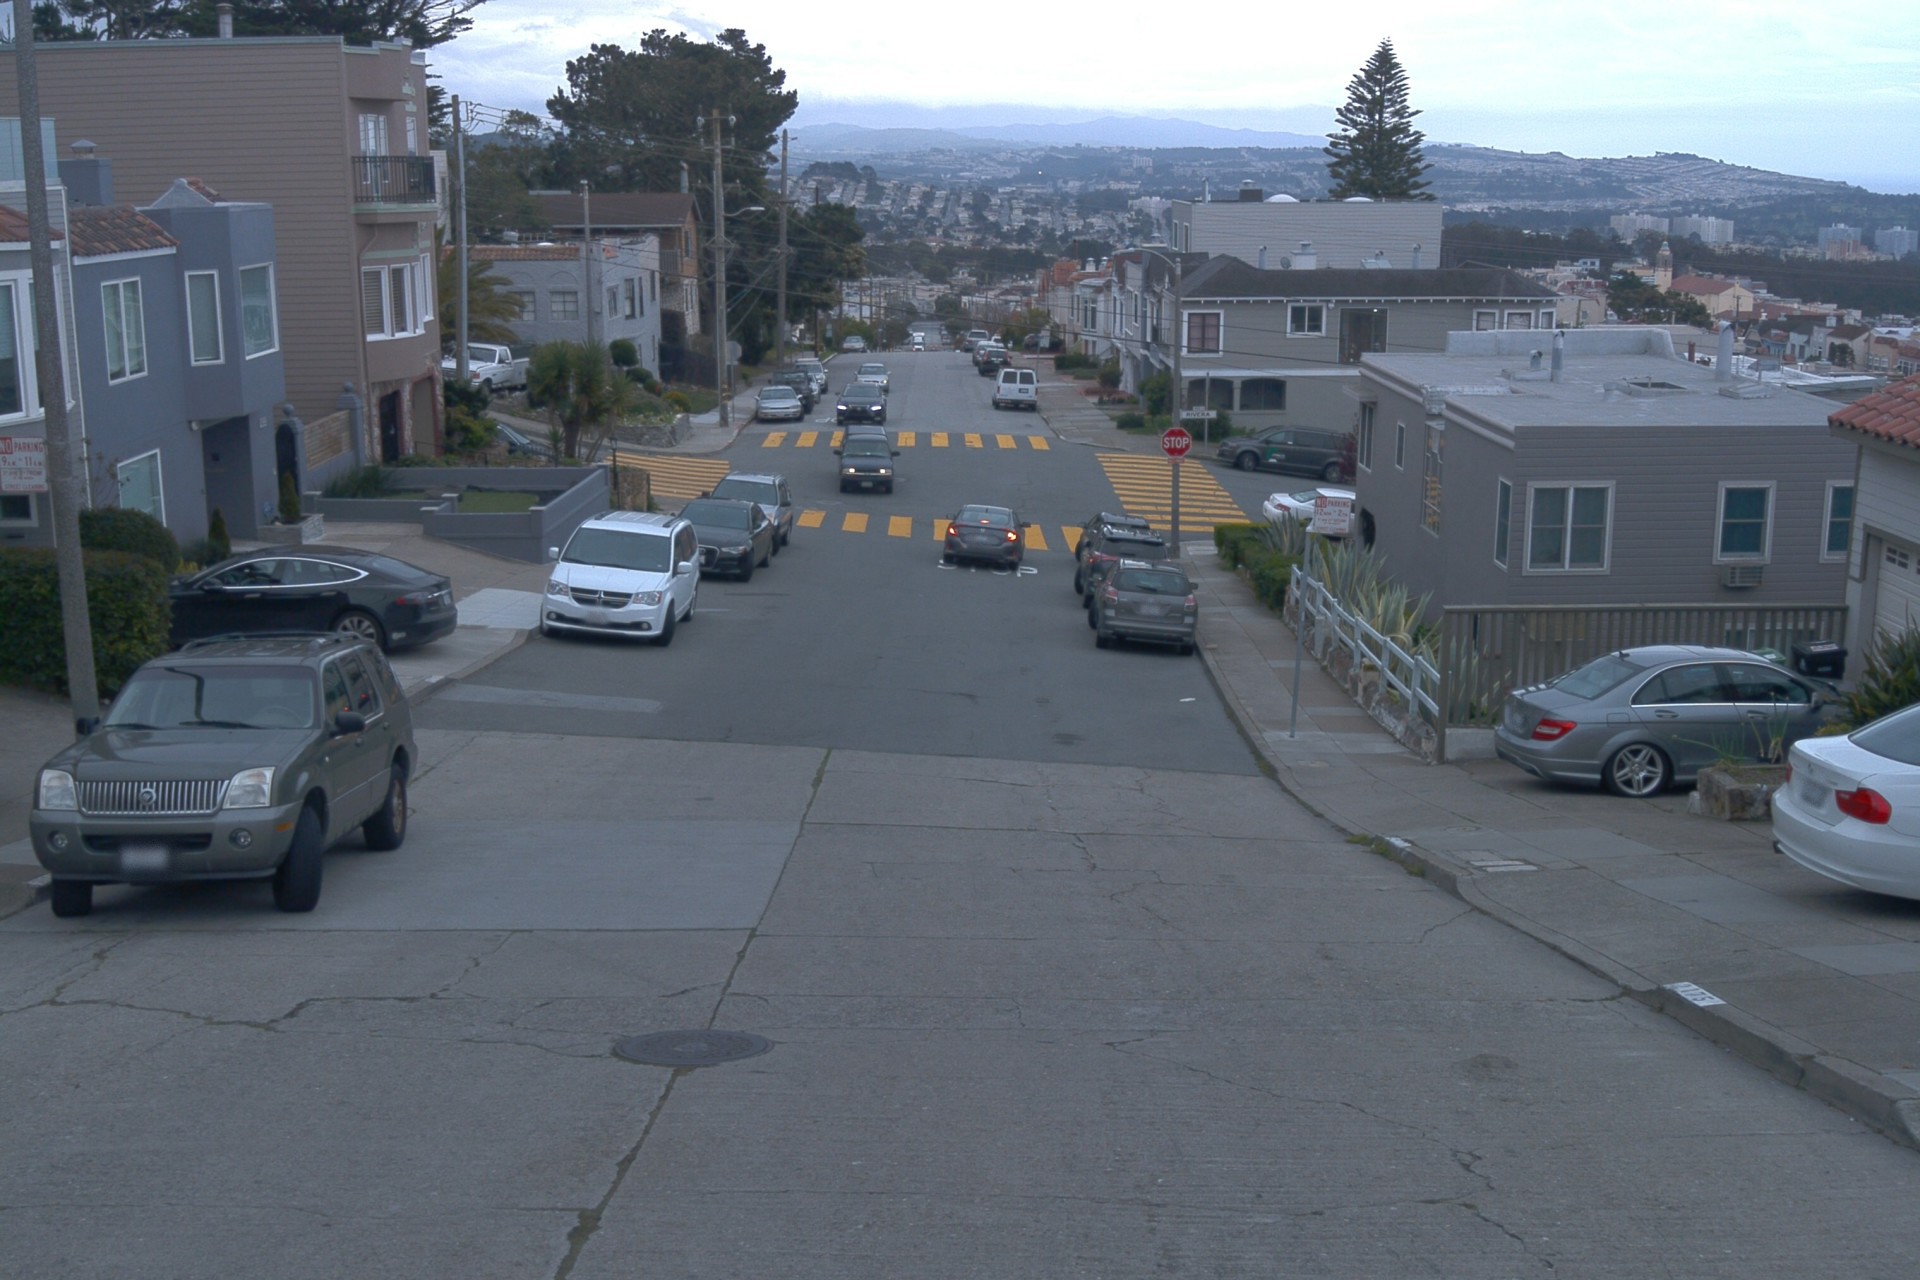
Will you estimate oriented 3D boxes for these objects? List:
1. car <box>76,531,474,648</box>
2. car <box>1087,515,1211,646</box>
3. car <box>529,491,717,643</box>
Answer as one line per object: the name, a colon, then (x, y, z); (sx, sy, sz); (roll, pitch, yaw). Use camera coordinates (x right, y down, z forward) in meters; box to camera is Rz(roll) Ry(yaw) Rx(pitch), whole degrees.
car: (-9.320, -0.669, 28.312); (4.778, 1.550, 2.024); (0, 0, 0)
car: (3.365, -1.009, 37.261); (2.100, 2.230, 4.506); (0, 0, 4)
car: (-5.251, -1.072, 32.816); (2.251, 2.231, 4.981); (0, 0, -1)
